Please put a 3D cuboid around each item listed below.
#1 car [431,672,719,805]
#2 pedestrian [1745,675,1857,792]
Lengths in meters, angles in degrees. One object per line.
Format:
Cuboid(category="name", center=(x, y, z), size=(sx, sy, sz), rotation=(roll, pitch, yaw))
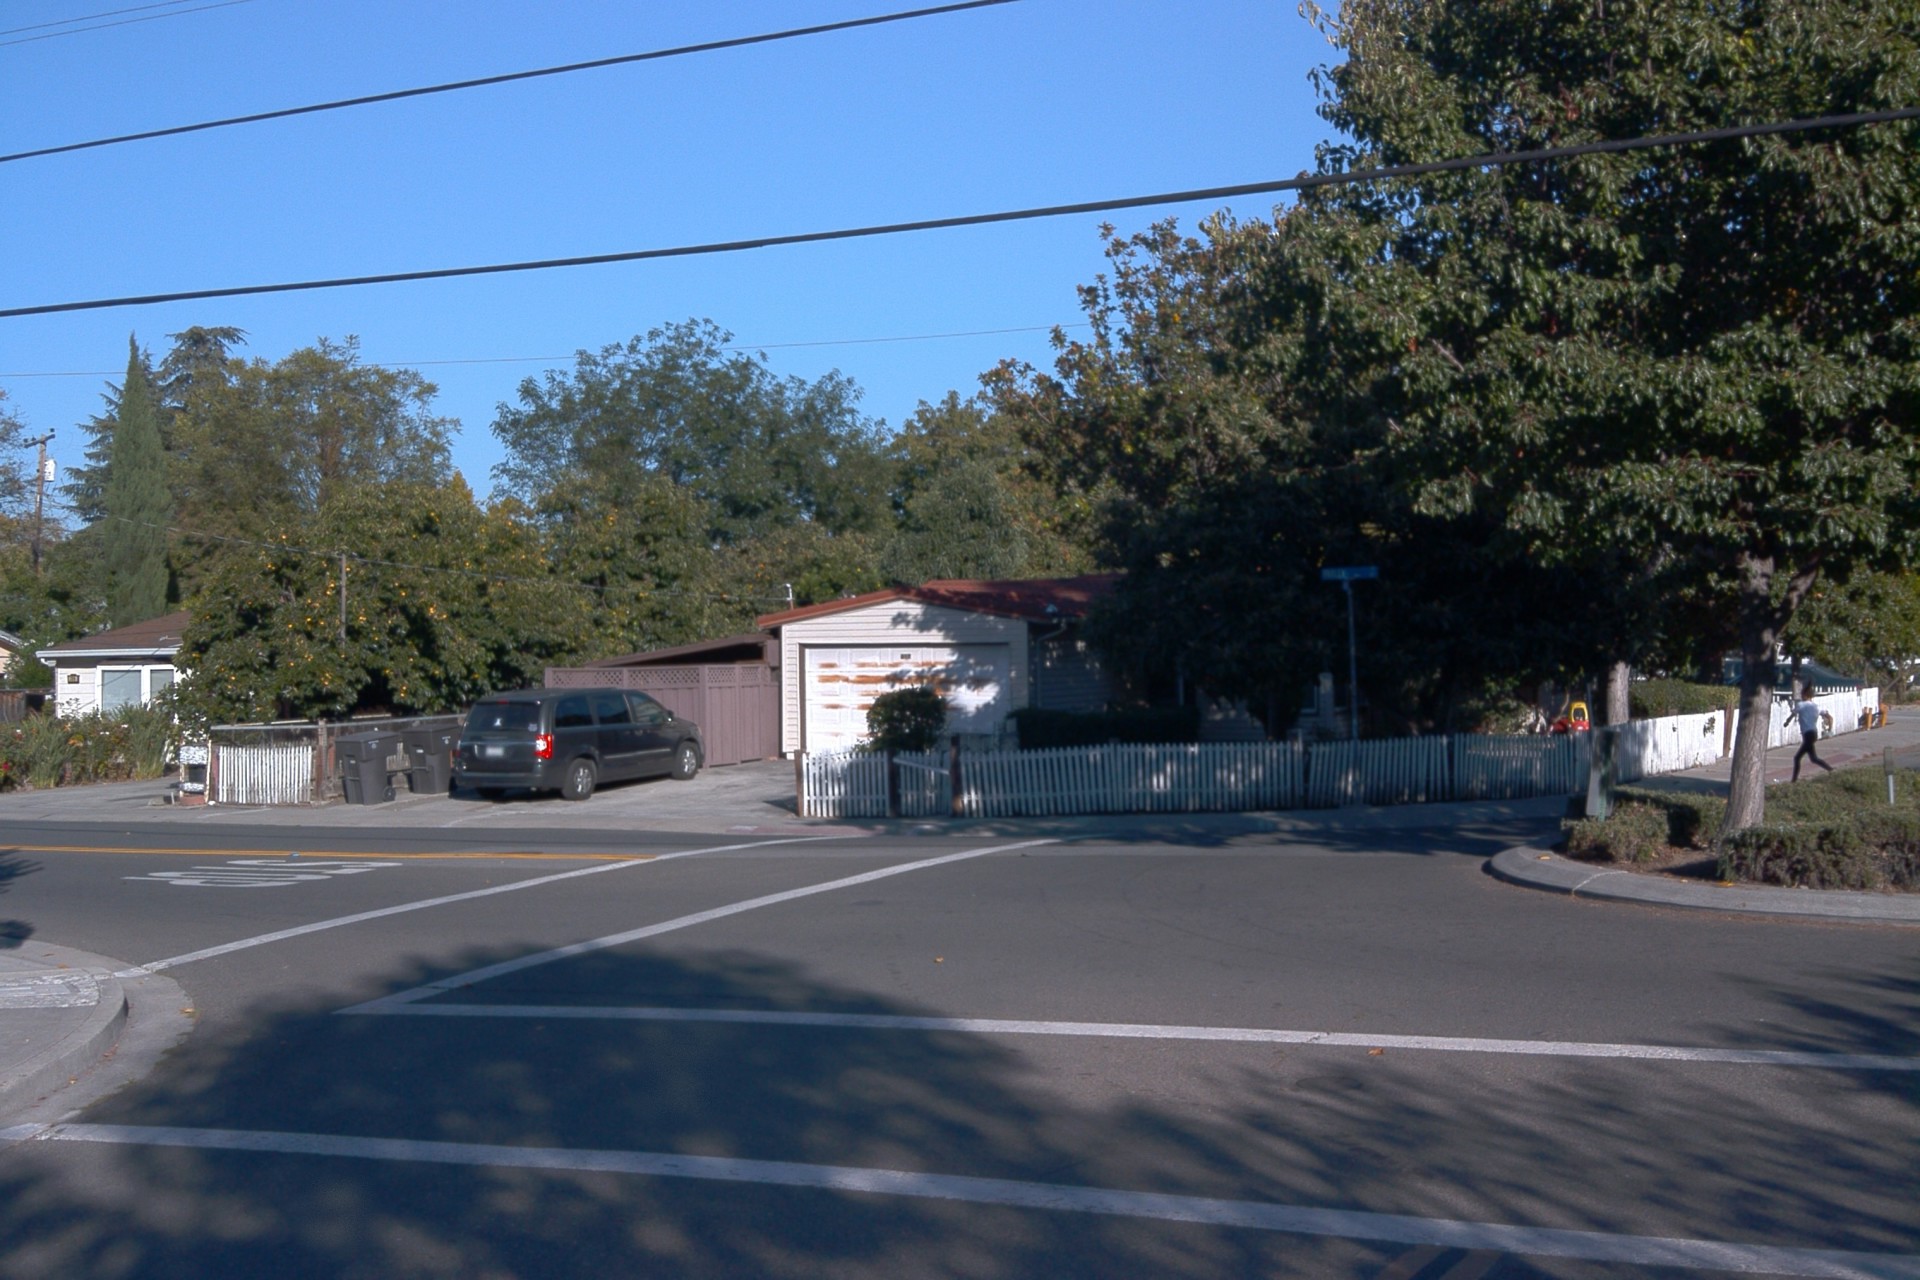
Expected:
Cuboid(category="car", center=(-6.240, 1.545, 34.386), size=(2.140, 1.930, 4.988), rotation=(1, 0, 25))
Cuboid(category="pedestrian", center=(11.864, 1.302, 29.340), size=(0.848, 1.580, 1.167), rotation=(1, 0, -27))
